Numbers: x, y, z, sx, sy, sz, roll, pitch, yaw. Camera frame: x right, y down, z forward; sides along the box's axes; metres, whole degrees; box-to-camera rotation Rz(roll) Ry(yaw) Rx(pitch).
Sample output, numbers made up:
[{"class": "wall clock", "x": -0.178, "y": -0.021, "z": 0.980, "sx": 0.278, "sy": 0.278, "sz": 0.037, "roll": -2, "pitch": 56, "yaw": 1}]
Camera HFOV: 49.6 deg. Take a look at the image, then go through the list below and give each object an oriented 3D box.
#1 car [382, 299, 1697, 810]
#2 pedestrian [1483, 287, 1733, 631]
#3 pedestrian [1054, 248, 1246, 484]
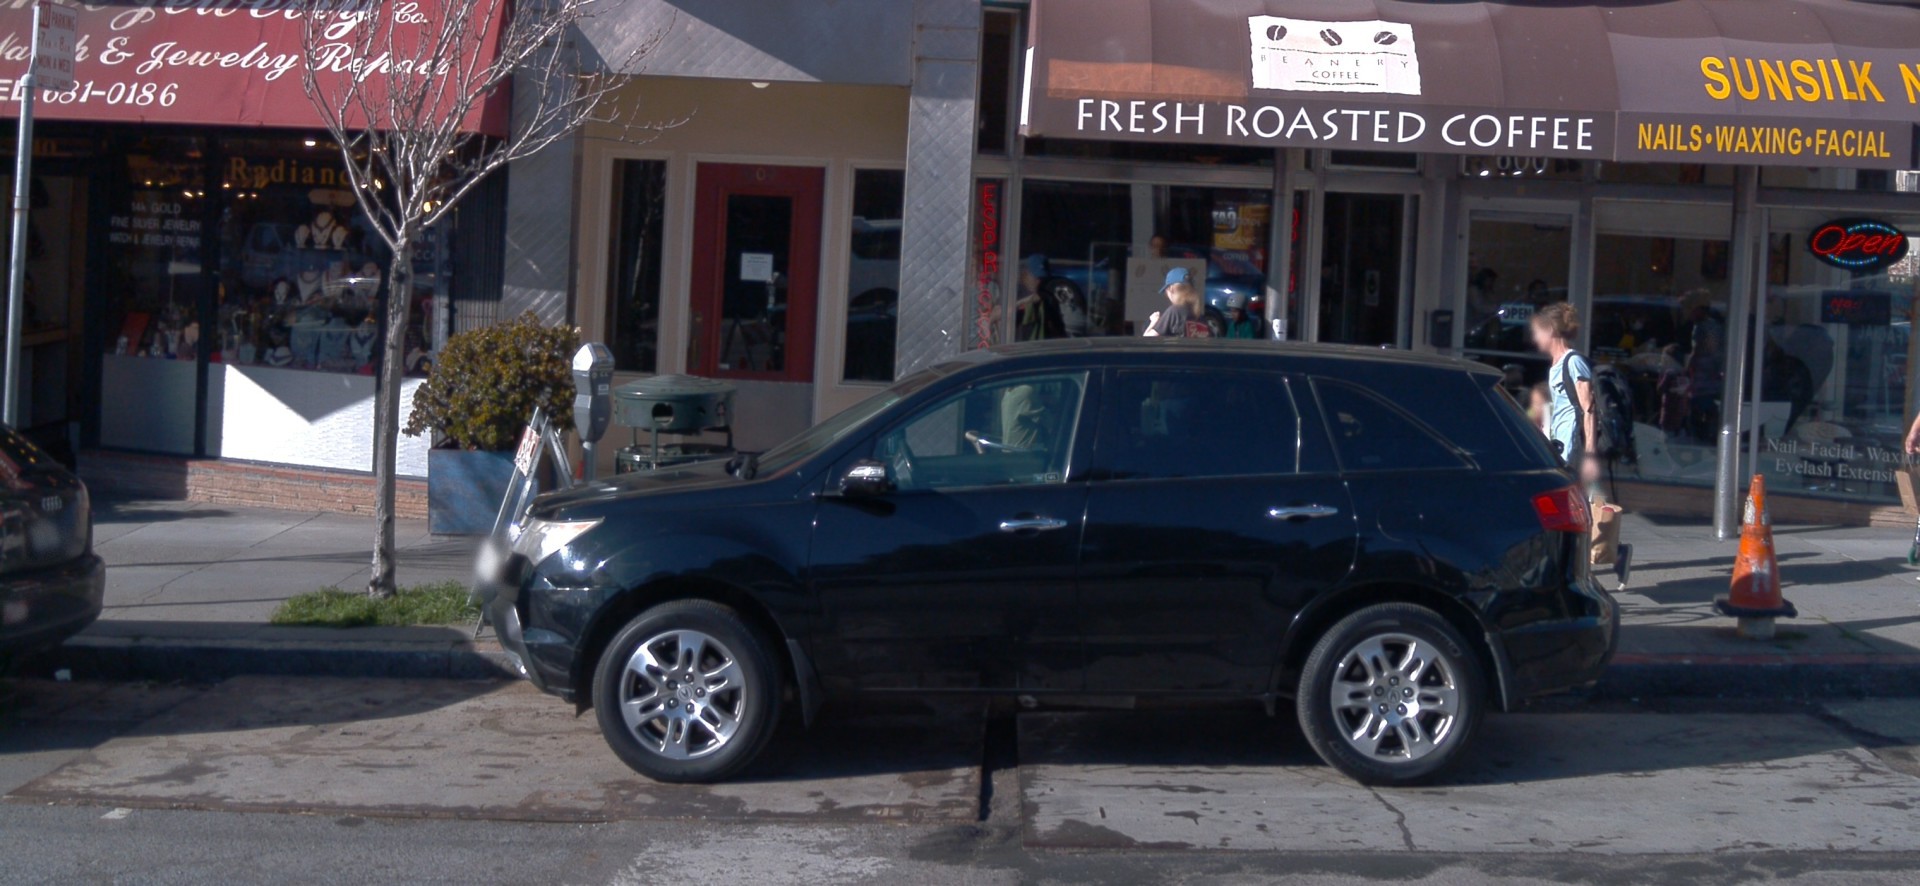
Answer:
[{"class": "car", "x": 0.317, "y": 0.355, "z": 8.850, "sx": 4.928, "sy": 1.774, "sz": 2.079, "roll": 1, "pitch": 4, "yaw": -1}, {"class": "pedestrian", "x": 3.542, "y": 0.040, "z": 11.466, "sx": 1.044, "sy": 1.746, "sz": 1.146, "roll": 1, "pitch": 3, "yaw": 2}, {"class": "pedestrian", "x": 1.239, "y": -0.552, "z": 13.823, "sx": 0.880, "sy": 1.456, "sz": 1.343, "roll": 0, "pitch": 4, "yaw": -14}]
